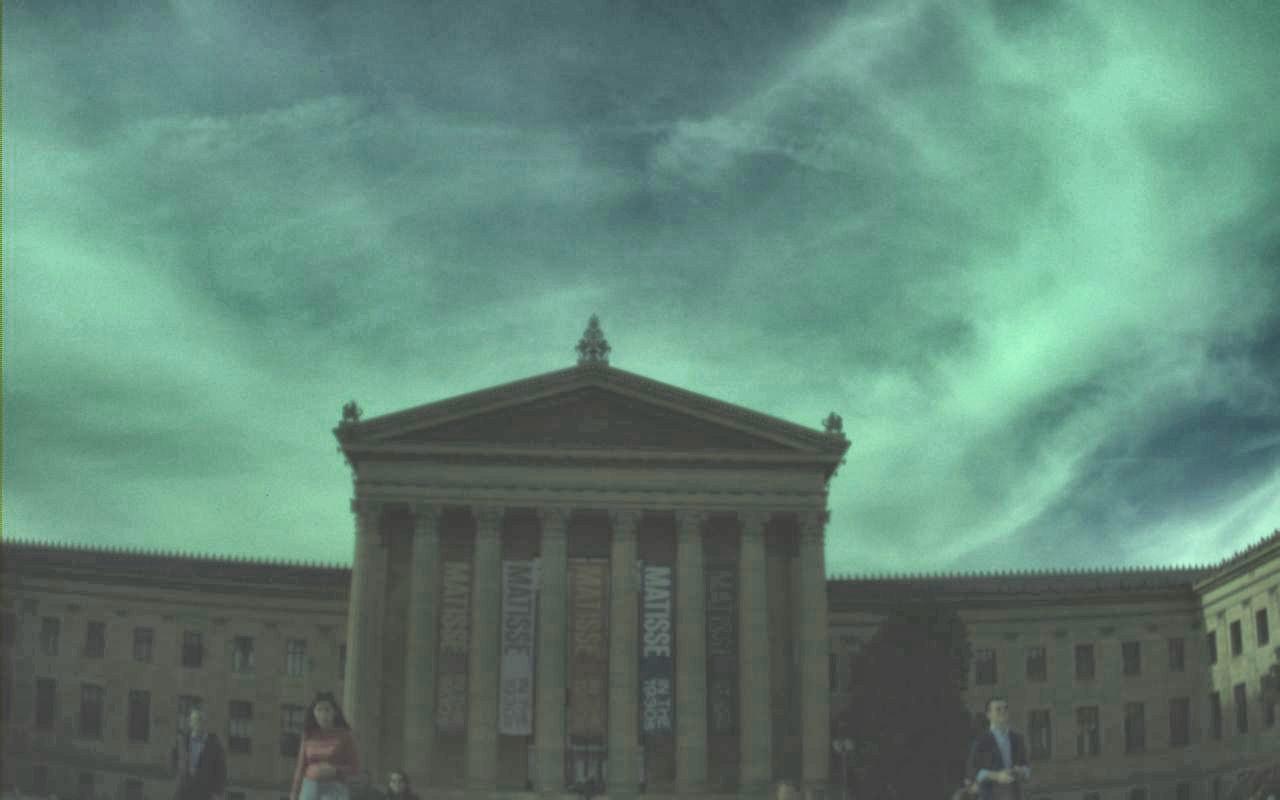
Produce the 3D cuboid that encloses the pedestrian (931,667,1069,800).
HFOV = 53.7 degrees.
[{"bbox_3d":[2.925,3.151,9.523,0.823,1.773,0.811,0,0,-1],"label":"pedestrian"}]

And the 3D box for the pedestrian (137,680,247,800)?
[{"bbox_3d":[-4.287,3.654,10.820,0.825,1.759,0.811,0,0,-11],"label":"pedestrian"}]

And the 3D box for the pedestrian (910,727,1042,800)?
[{"bbox_3d":[3.301,4.209,11.402,0.837,1.720,0.844,0,0,-32],"label":"pedestrian"}]

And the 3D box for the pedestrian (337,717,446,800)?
[{"bbox_3d":[-2.394,3.985,11.369,0.832,1.647,0.851,0,0,1],"label":"pedestrian"}]

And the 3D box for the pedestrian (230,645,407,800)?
[{"bbox_3d":[-2.187,2.630,7.984,0.832,1.720,0.843,1,0,14],"label":"pedestrian"}]
